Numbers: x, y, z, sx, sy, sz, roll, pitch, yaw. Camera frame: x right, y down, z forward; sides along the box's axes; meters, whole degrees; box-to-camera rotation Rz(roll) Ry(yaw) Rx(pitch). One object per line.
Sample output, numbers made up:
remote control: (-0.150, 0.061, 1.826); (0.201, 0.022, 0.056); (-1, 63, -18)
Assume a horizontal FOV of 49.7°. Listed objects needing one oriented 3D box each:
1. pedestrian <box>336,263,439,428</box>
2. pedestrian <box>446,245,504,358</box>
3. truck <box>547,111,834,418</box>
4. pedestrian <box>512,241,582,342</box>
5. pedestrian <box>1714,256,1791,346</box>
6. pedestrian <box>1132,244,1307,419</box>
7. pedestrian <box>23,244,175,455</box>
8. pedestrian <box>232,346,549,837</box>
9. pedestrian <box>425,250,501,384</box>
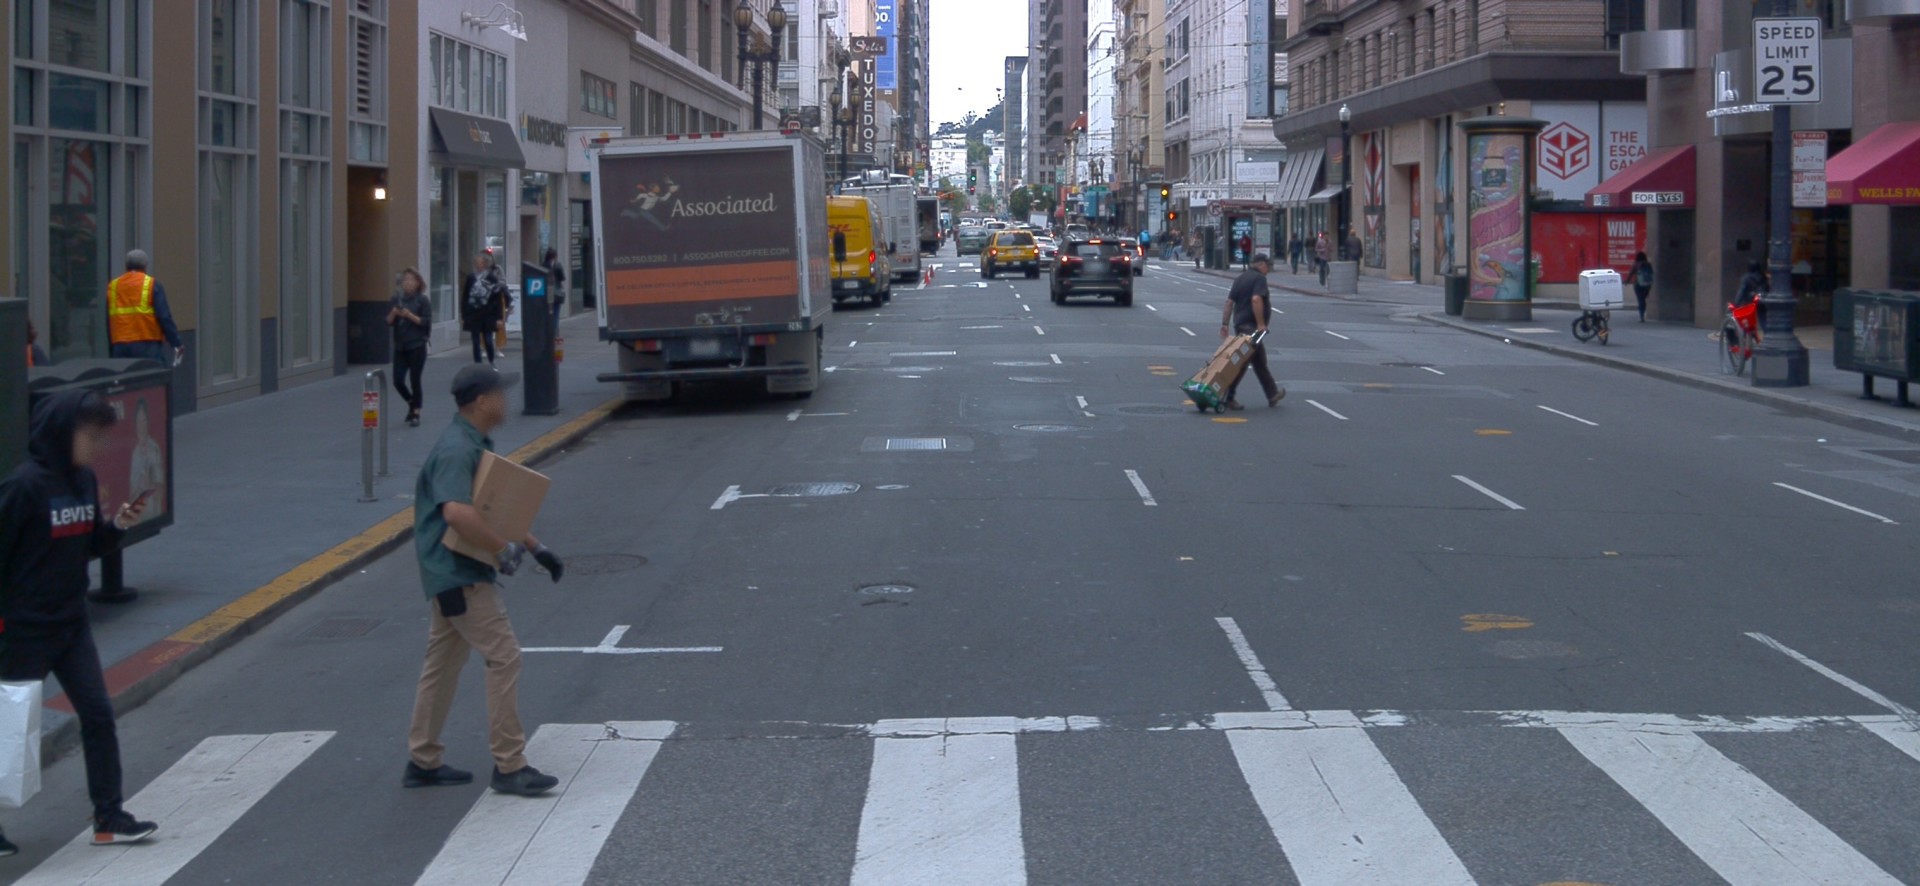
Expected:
pedestrian: (-5.886, -1.021, 21.334); (0.786, 1.647, 0.873); (0, 2, 2)
pedestrian: (-7.392, -2.174, 31.597); (0.804, 1.687, 0.747); (0, 2, -9)
truck: (-3.210, -2.362, 26.448); (2.784, 3.405, 6.688); (0, 5, 0)
pedestrian: (-7.114, -2.634, 35.716); (0.803, 1.697, 0.937); (1, 2, 19)
pedestrian: (13.299, -2.387, 34.779); (0.909, 1.467, 0.808); (0, 2, -9)
pedestrian: (3.009, -1.328, 24.024); (1.745, 1.926, 1.056); (-2, 3, -31)
pedestrian: (-7.913, -0.888, 19.081); (0.986, 1.877, 0.986); (0, 2, -1)
pedestrian: (-2.143, 0.515, 7.918); (0.931, 1.707, 0.902); (0, 2, 2)
pedestrian: (-6.552, -1.676, 27.360); (0.774, 1.717, 0.927); (0, 2, 0)
